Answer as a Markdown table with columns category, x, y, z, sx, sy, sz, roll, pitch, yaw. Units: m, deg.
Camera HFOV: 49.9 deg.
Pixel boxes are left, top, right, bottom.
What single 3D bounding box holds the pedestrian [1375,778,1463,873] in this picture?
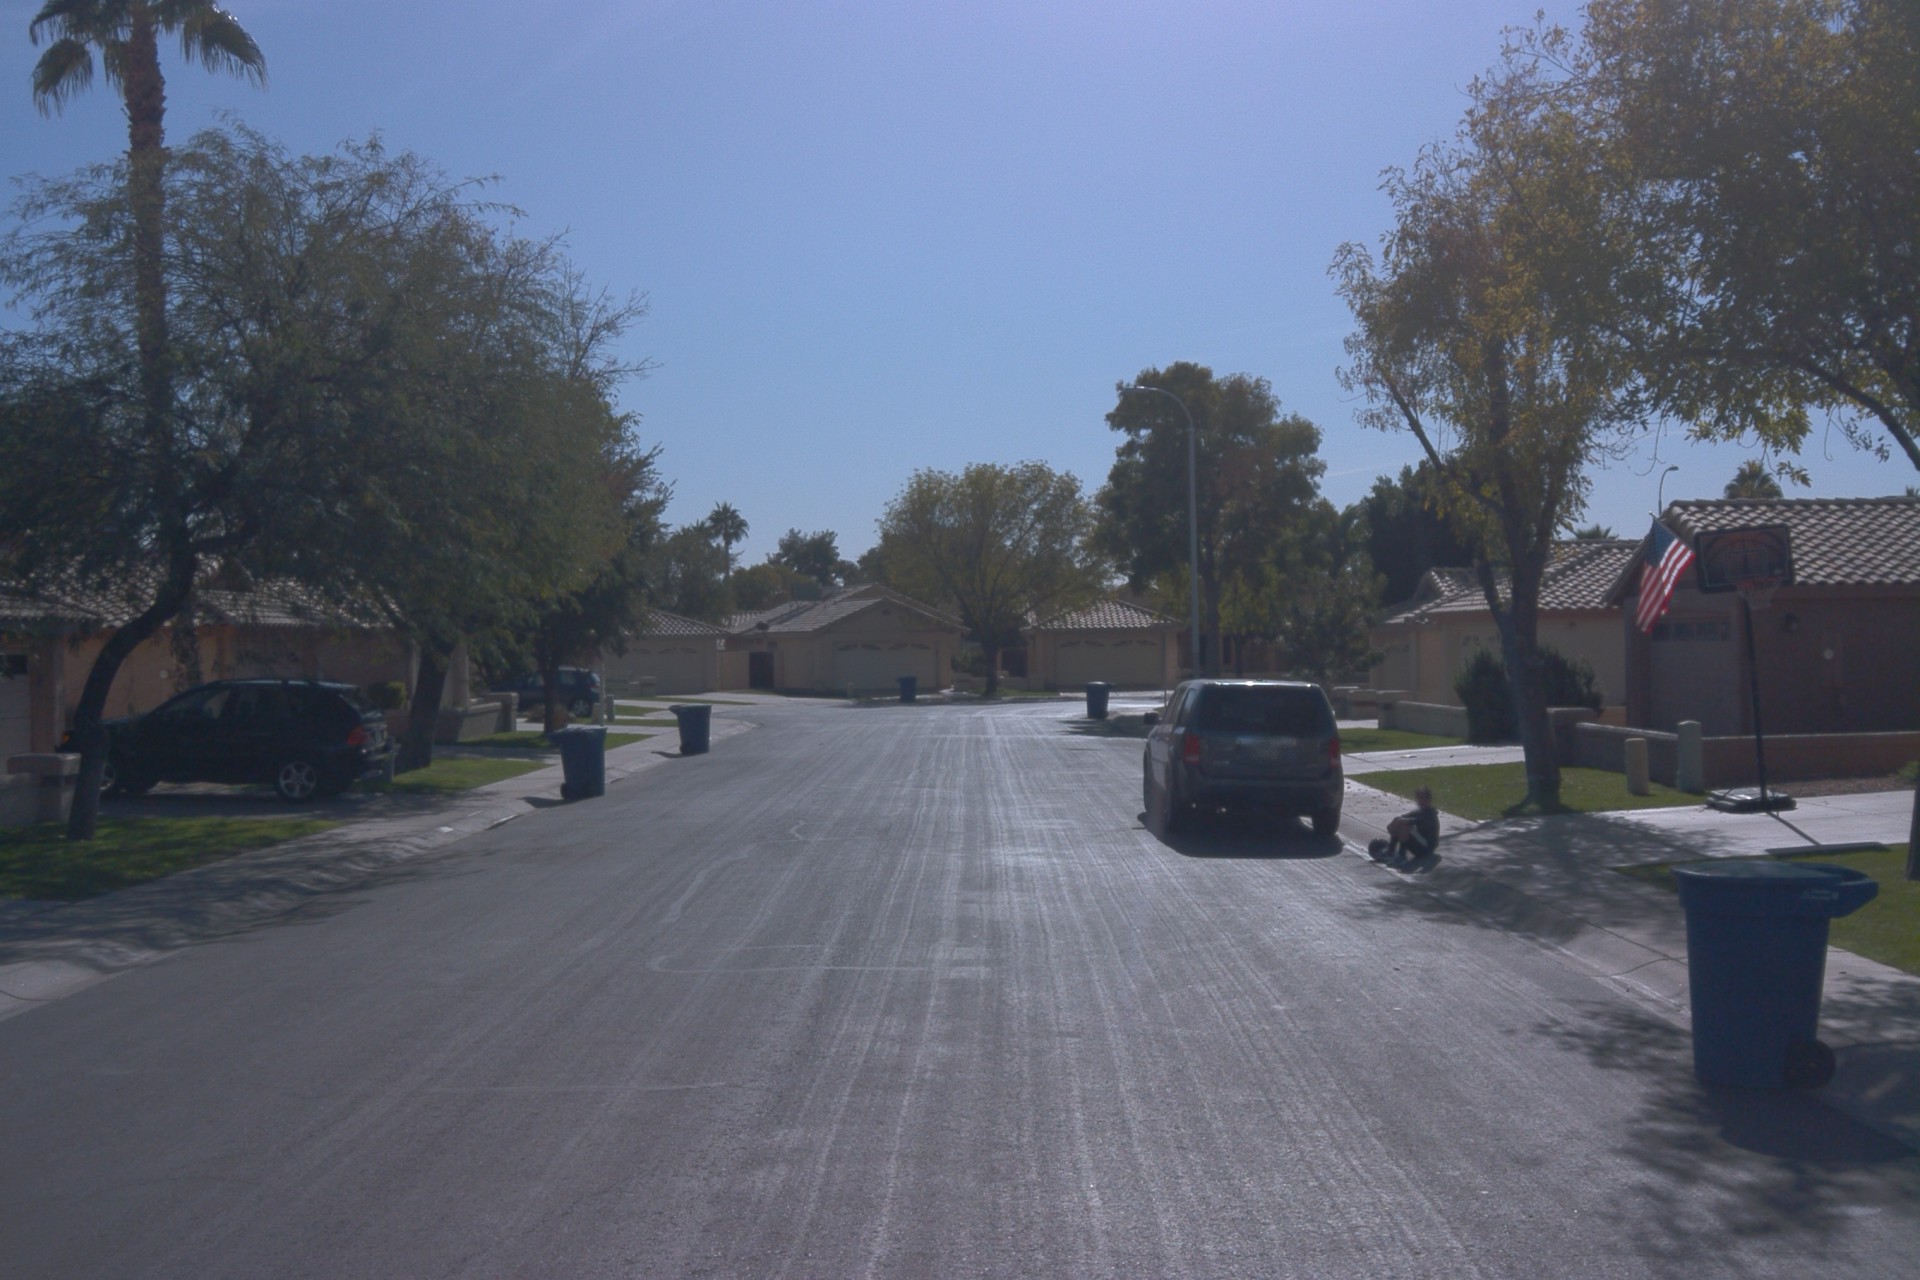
| category | x | y | z | sx | sy | sz | roll | pitch | yaw |
| --- | --- | --- | --- | --- | --- | --- | --- | --- | --- |
| pedestrian | 4.588 | 1.847 | 20.649 | 0.705 | 0.880 | 0.828 | 0 | 0 | 1 |

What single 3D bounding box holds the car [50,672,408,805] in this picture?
| category | x | y | z | sx | sy | sz | roll | pitch | yaw |
| --- | --- | --- | --- | --- | --- | --- | --- | --- | --- |
| car | -10.624 | 1.410 | 30.262 | 4.490 | 1.850 | 2.273 | 0 | 0 | -2 |

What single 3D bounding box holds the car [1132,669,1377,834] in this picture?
| category | x | y | z | sx | sy | sz | roll | pitch | yaw |
| --- | --- | --- | --- | --- | --- | --- | --- | --- | --- |
| car | 3.455 | 1.266 | 25.216 | 2.268 | 1.780 | 4.879 | 0 | 0 | 0 |
